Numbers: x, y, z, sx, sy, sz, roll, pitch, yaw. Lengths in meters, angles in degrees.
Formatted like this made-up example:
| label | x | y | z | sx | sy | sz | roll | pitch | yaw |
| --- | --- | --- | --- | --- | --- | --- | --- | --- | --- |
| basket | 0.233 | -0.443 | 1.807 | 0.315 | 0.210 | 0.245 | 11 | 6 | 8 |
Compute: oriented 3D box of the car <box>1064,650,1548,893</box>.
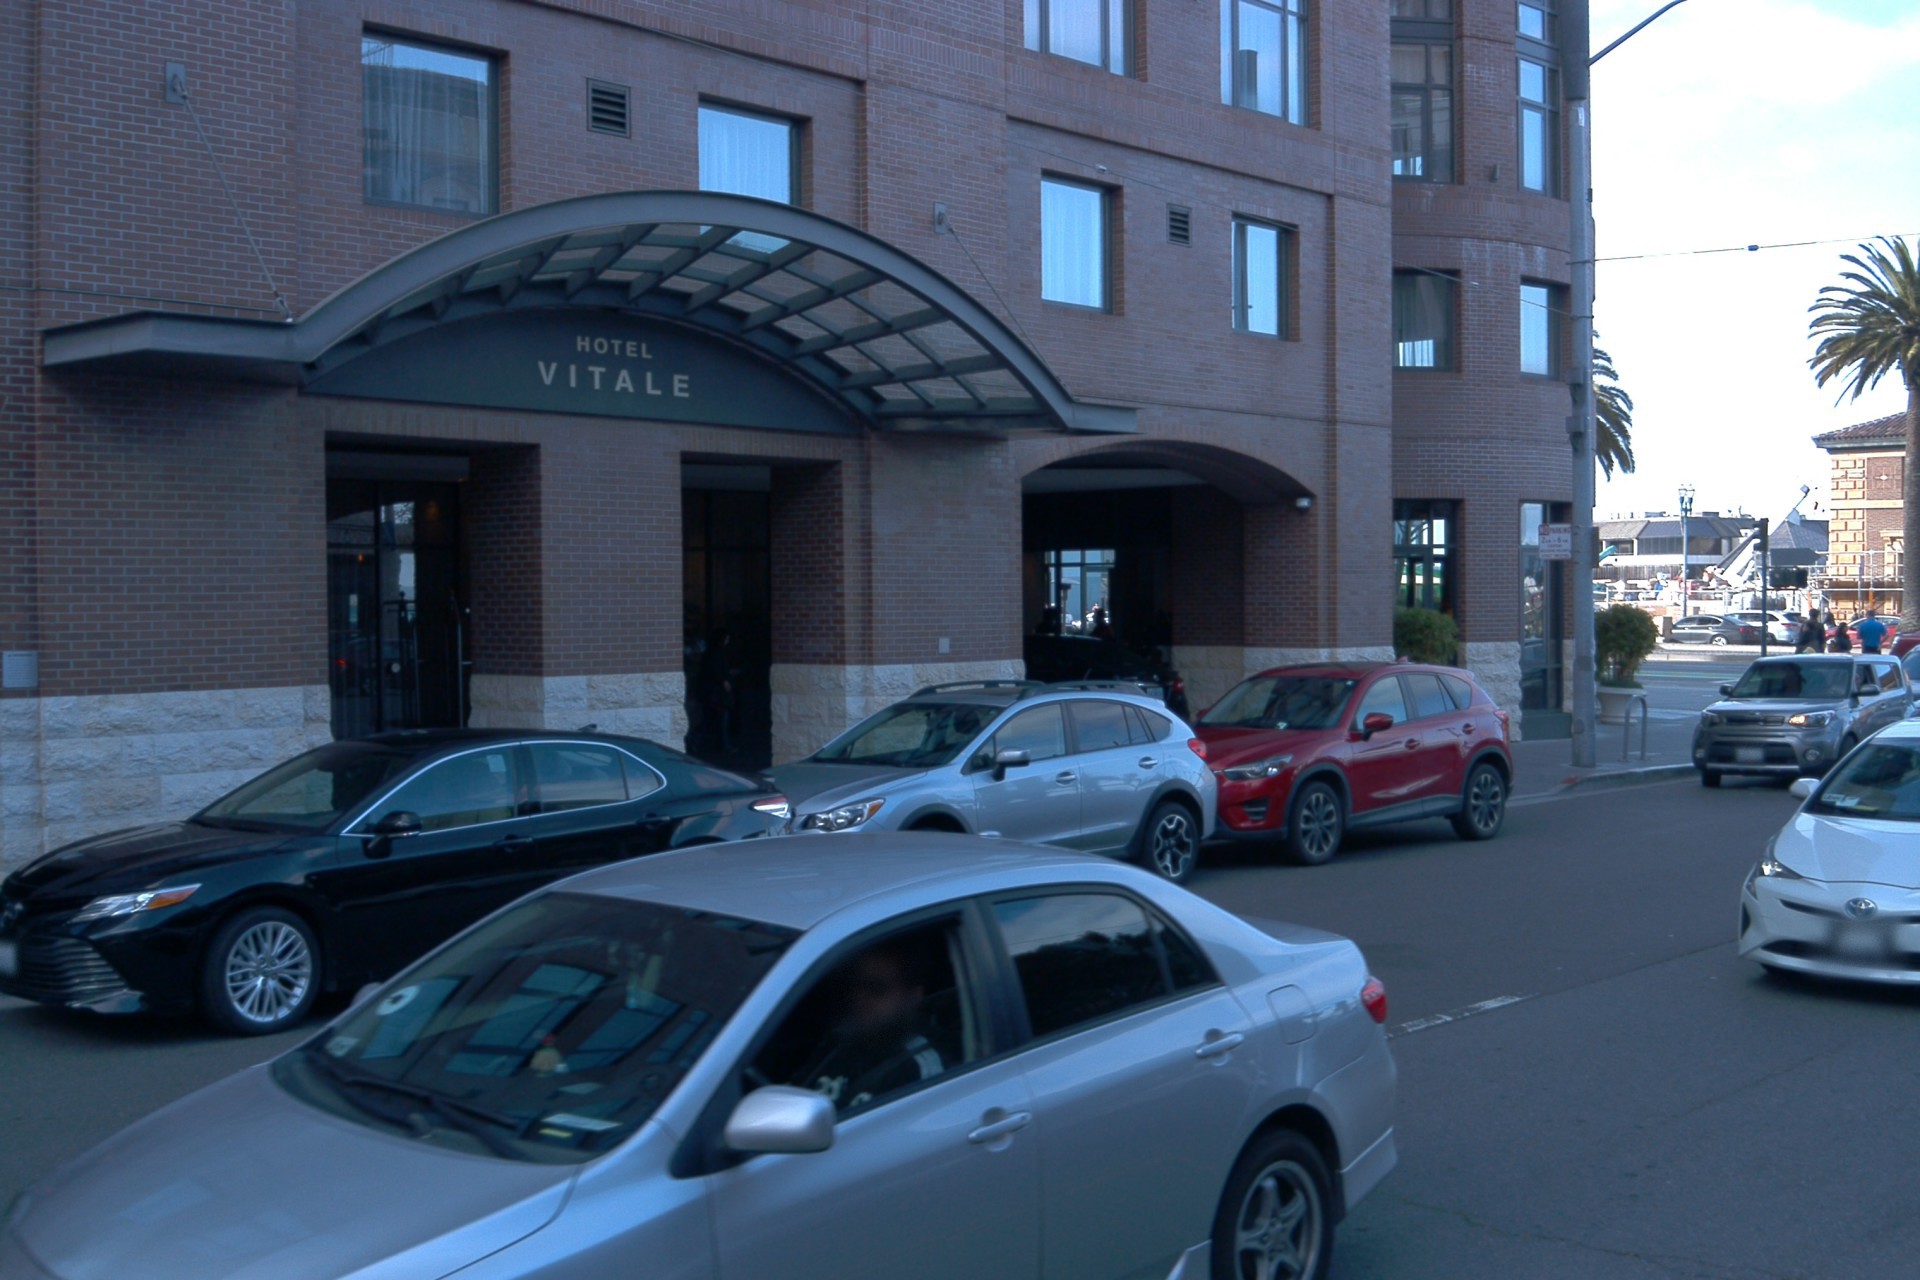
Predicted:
| label | x | y | z | sx | sy | sz | roll | pitch | yaw |
| --- | --- | --- | --- | --- | --- | --- | --- | --- | --- |
| car | 3.217 | 1.046 | 18.606 | 2.120 | 1.830 | 4.483 | 1 | 1 | 44 |

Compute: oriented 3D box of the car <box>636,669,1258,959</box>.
| label | x | y | z | sx | sy | sz | roll | pitch | yaw |
| --- | --- | --- | --- | --- | --- | --- | --- | --- | --- |
| car | 0.039 | 1.123 | 15.264 | 2.045 | 1.693 | 4.467 | 1 | 1 | 44 |
